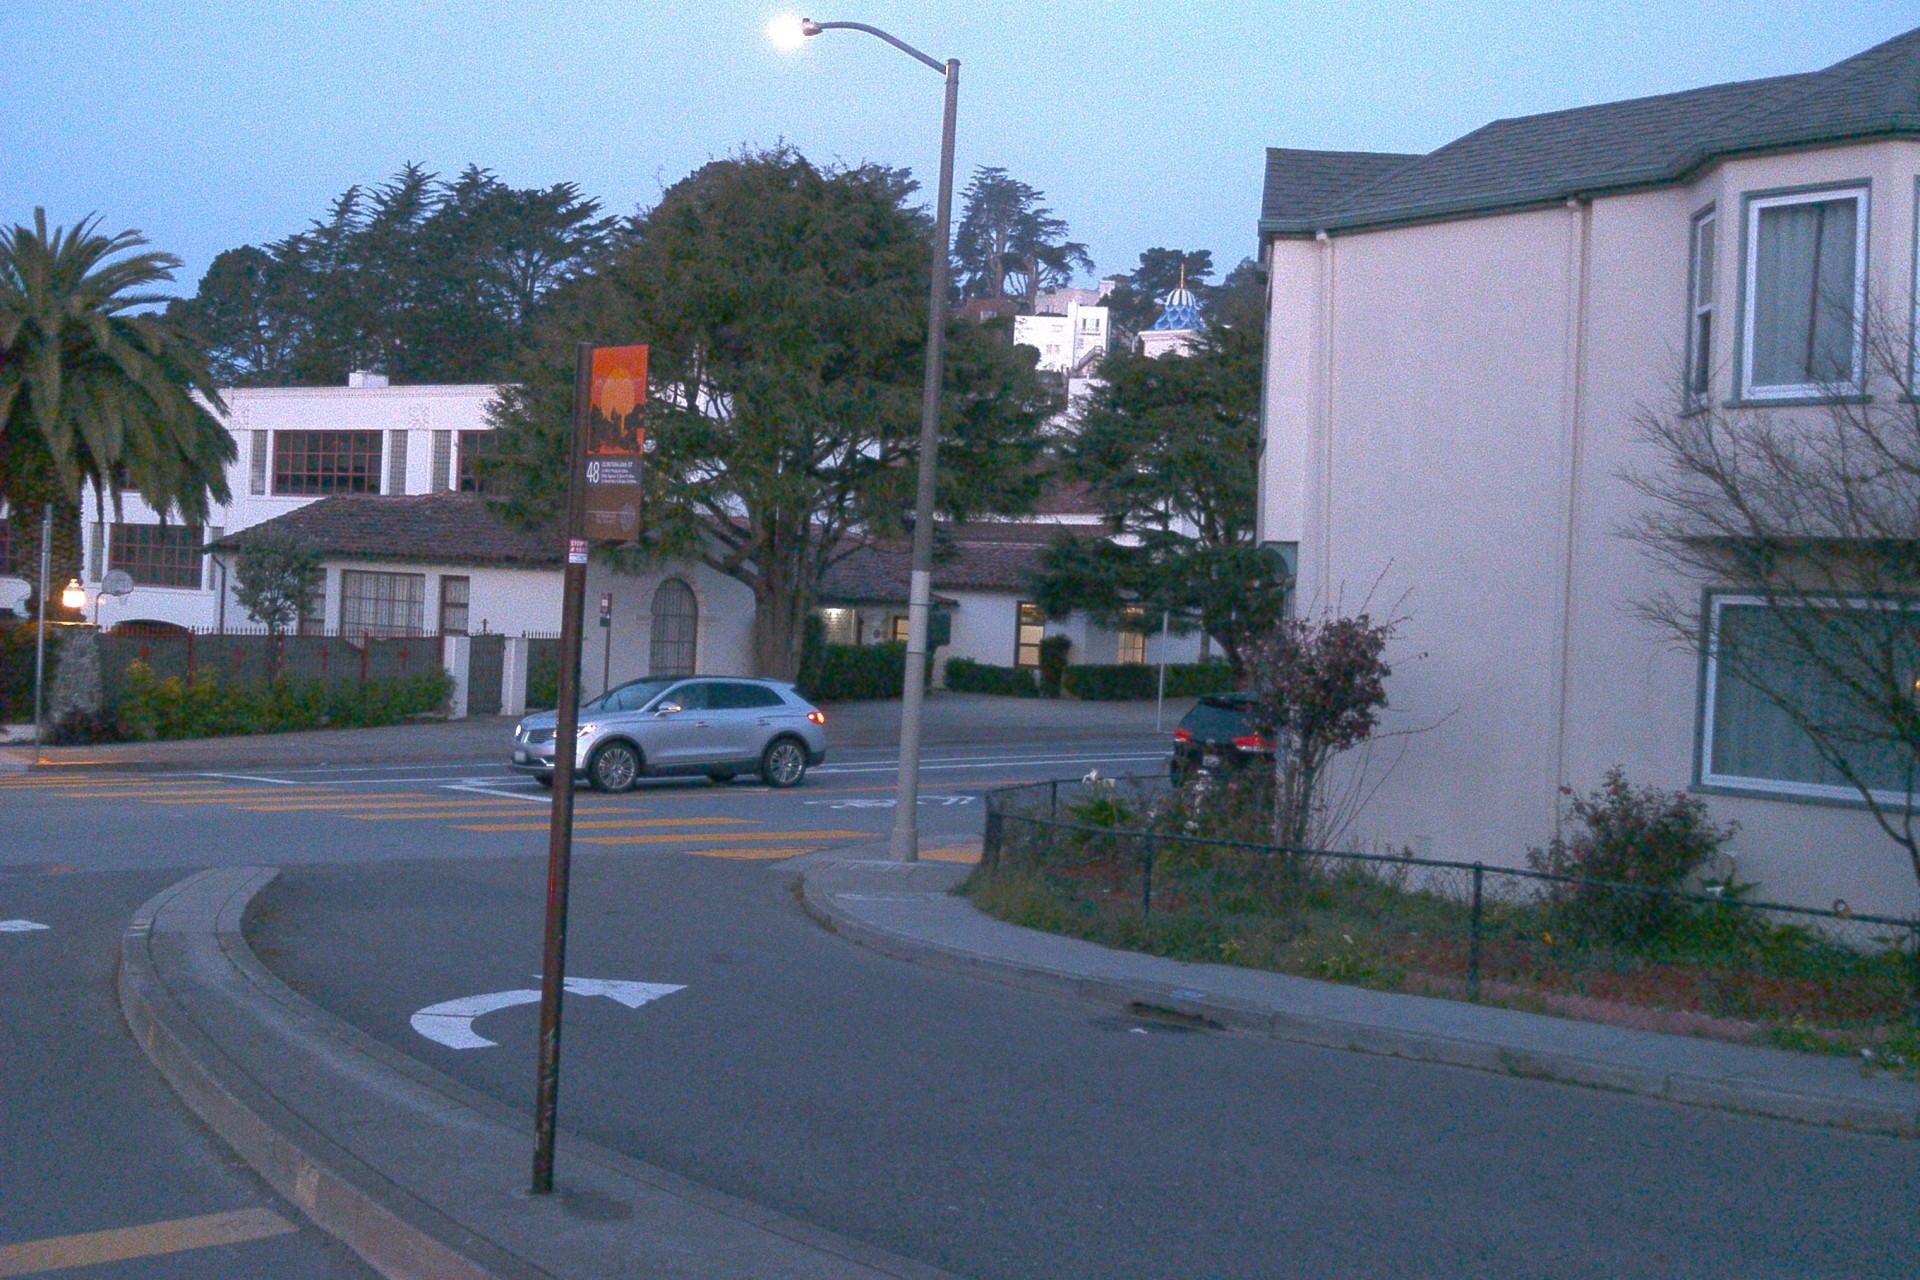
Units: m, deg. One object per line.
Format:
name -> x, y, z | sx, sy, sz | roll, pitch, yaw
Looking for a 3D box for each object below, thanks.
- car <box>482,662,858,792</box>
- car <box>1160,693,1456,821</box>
car -> -4.179, 1.202, 30.665 | 5.027, 1.730, 2.150 | 1, 0, -39
car -> 5.027, 1.626, 30.201 | 3.819, 1.660, 2.058 | 1, 0, -34
